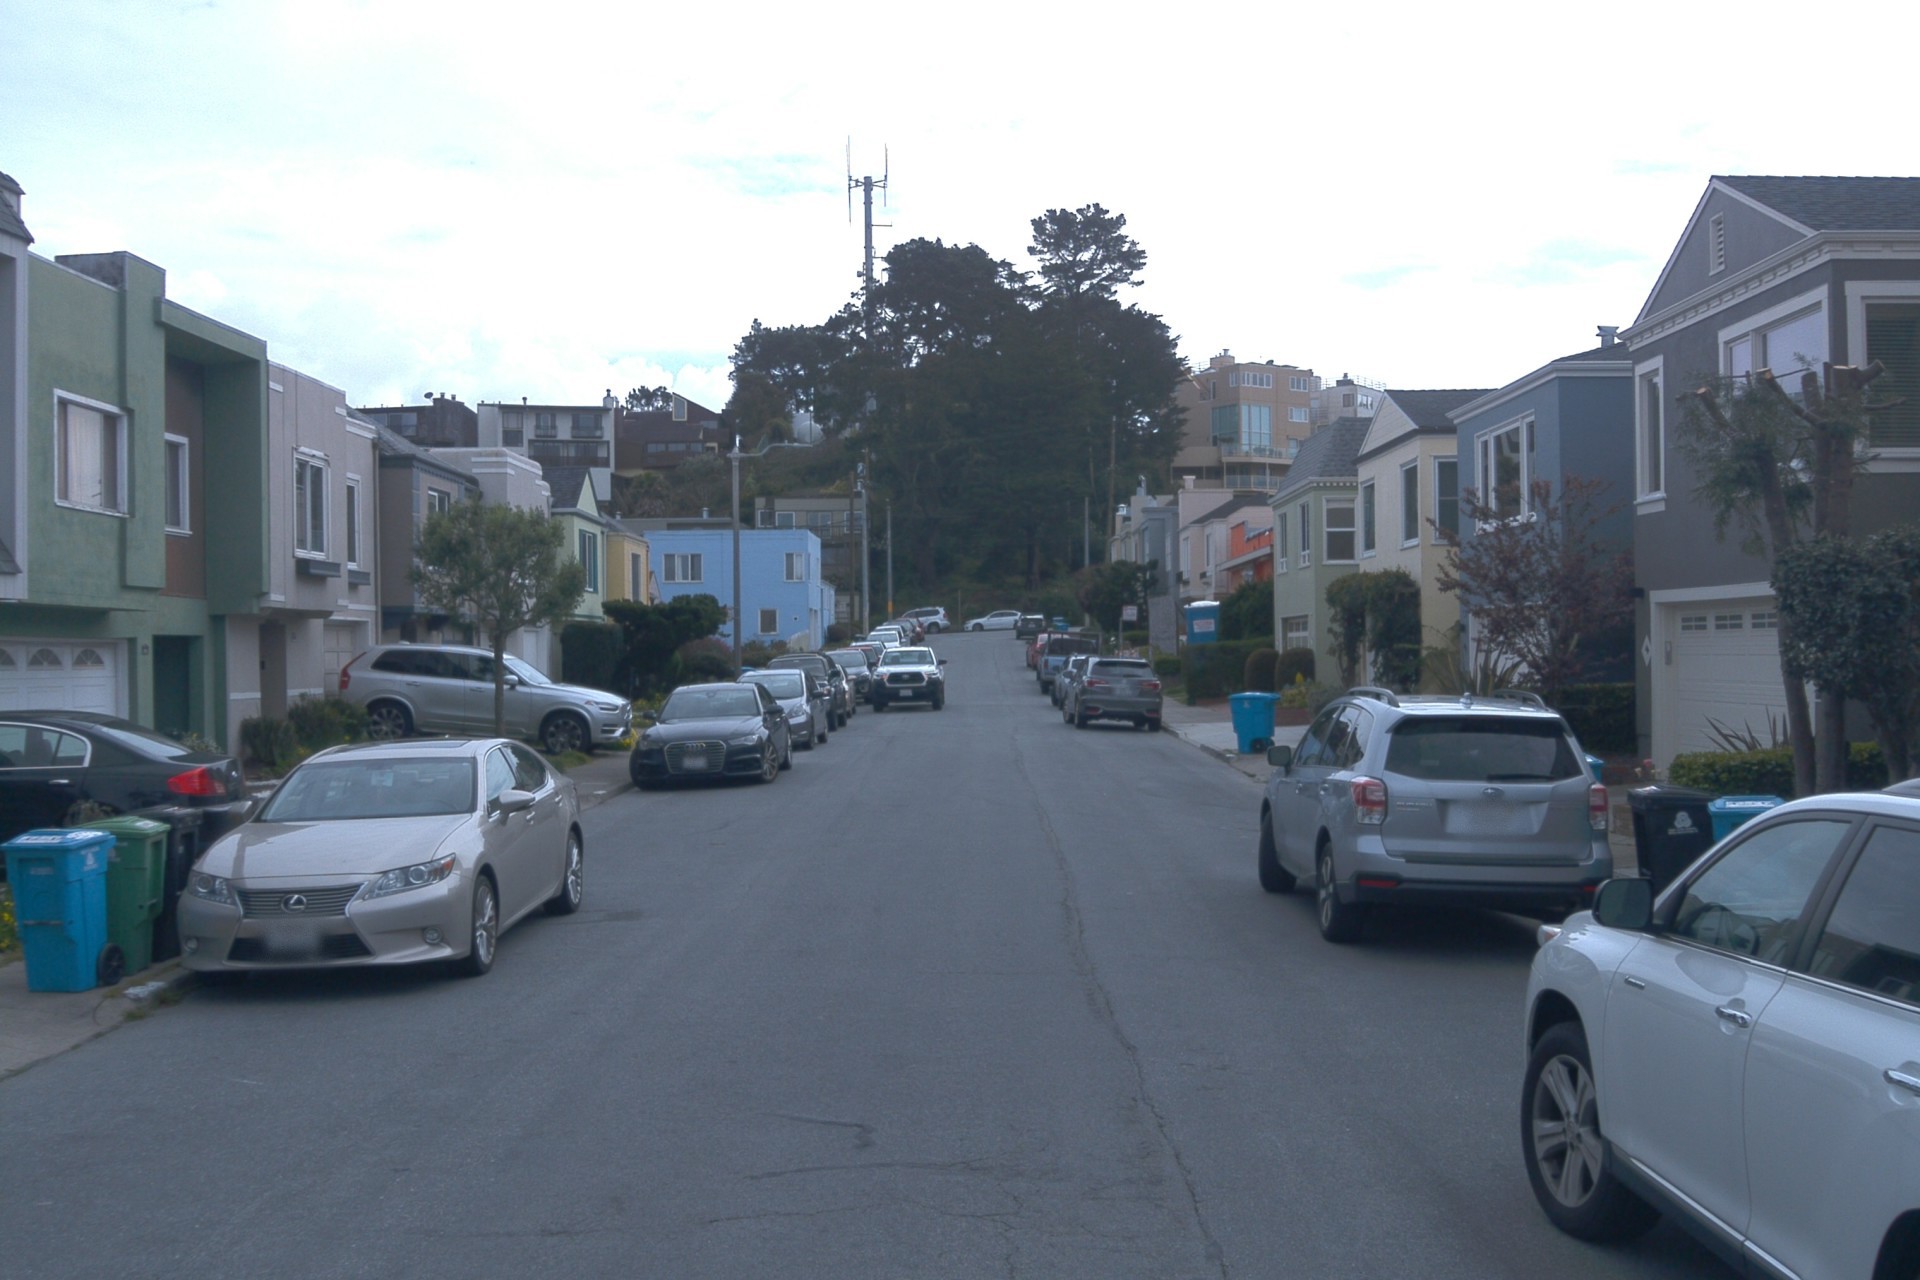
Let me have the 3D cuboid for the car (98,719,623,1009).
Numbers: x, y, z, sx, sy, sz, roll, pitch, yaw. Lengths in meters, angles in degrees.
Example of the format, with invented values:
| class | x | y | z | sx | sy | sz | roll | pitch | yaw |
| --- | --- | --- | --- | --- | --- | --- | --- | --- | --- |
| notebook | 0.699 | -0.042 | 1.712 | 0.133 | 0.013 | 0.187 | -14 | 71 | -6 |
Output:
| class | x | y | z | sx | sy | sz | roll | pitch | yaw |
| --- | --- | --- | --- | --- | --- | --- | --- | --- | --- |
| car | -3.892 | 1.391 | 14.523 | 2.130 | 1.510 | 5.019 | 0 | 0 | 1 |

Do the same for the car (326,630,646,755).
| class | x | y | z | sx | sy | sz | roll | pitch | yaw |
| --- | --- | --- | --- | --- | --- | --- | --- | --- | --- |
| car | -8.031 | 0.868 | 35.410 | 4.989 | 2.070 | 2.050 | 0 | 0 | 1 |

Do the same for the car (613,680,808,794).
| class | x | y | z | sx | sy | sz | roll | pitch | yaw |
| --- | --- | --- | --- | --- | --- | --- | --- | --- | --- |
| car | -3.589 | 1.369 | 30.745 | 2.204 | 1.490 | 4.920 | 0 | 0 | 1 |

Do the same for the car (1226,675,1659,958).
| class | x | y | z | sx | sy | sz | roll | pitch | yaw |
| --- | --- | --- | --- | --- | --- | --- | --- | --- | --- |
| car | 3.349 | 1.152 | 15.456 | 2.102 | 1.730 | 4.779 | 0 | 0 | 0 |
